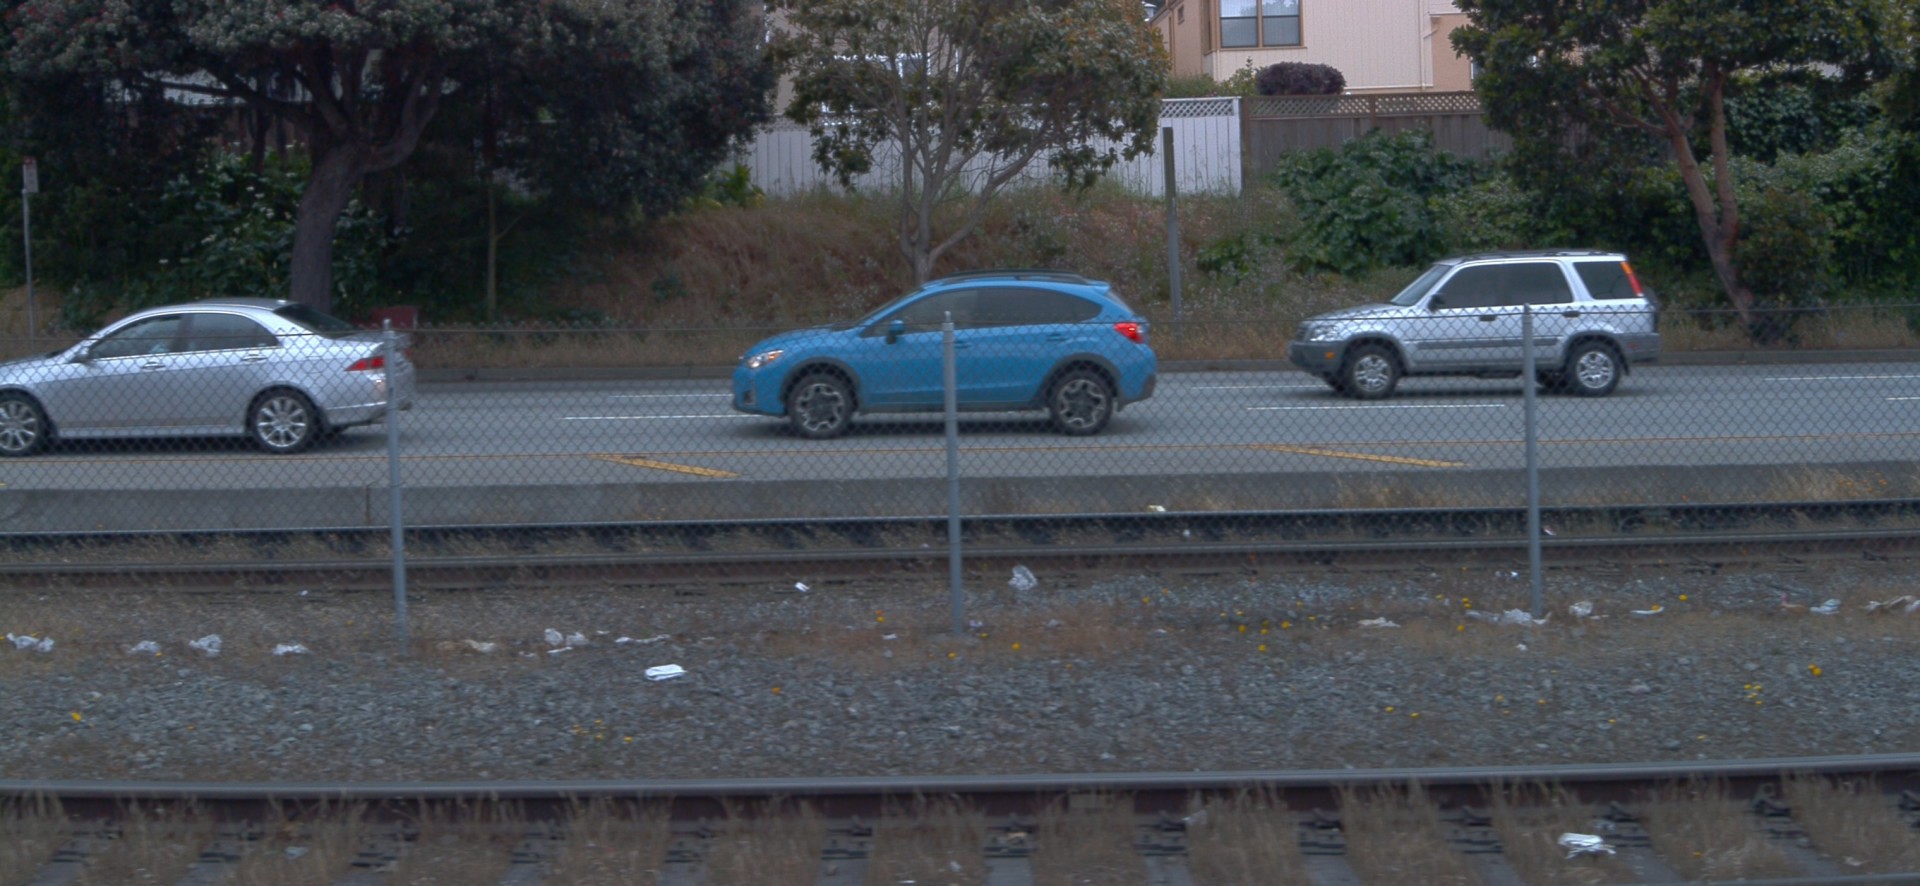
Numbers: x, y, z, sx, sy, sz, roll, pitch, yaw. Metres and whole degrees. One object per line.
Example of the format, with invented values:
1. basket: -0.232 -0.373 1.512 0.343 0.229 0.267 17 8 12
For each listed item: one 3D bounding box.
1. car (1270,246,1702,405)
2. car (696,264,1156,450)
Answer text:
1. car: 6.035 -1.413 24.117 4.516 1.694 1.982 -1 4 0
2. car: -0.328 -0.912 20.894 4.413 1.684 1.991 -1 4 0
